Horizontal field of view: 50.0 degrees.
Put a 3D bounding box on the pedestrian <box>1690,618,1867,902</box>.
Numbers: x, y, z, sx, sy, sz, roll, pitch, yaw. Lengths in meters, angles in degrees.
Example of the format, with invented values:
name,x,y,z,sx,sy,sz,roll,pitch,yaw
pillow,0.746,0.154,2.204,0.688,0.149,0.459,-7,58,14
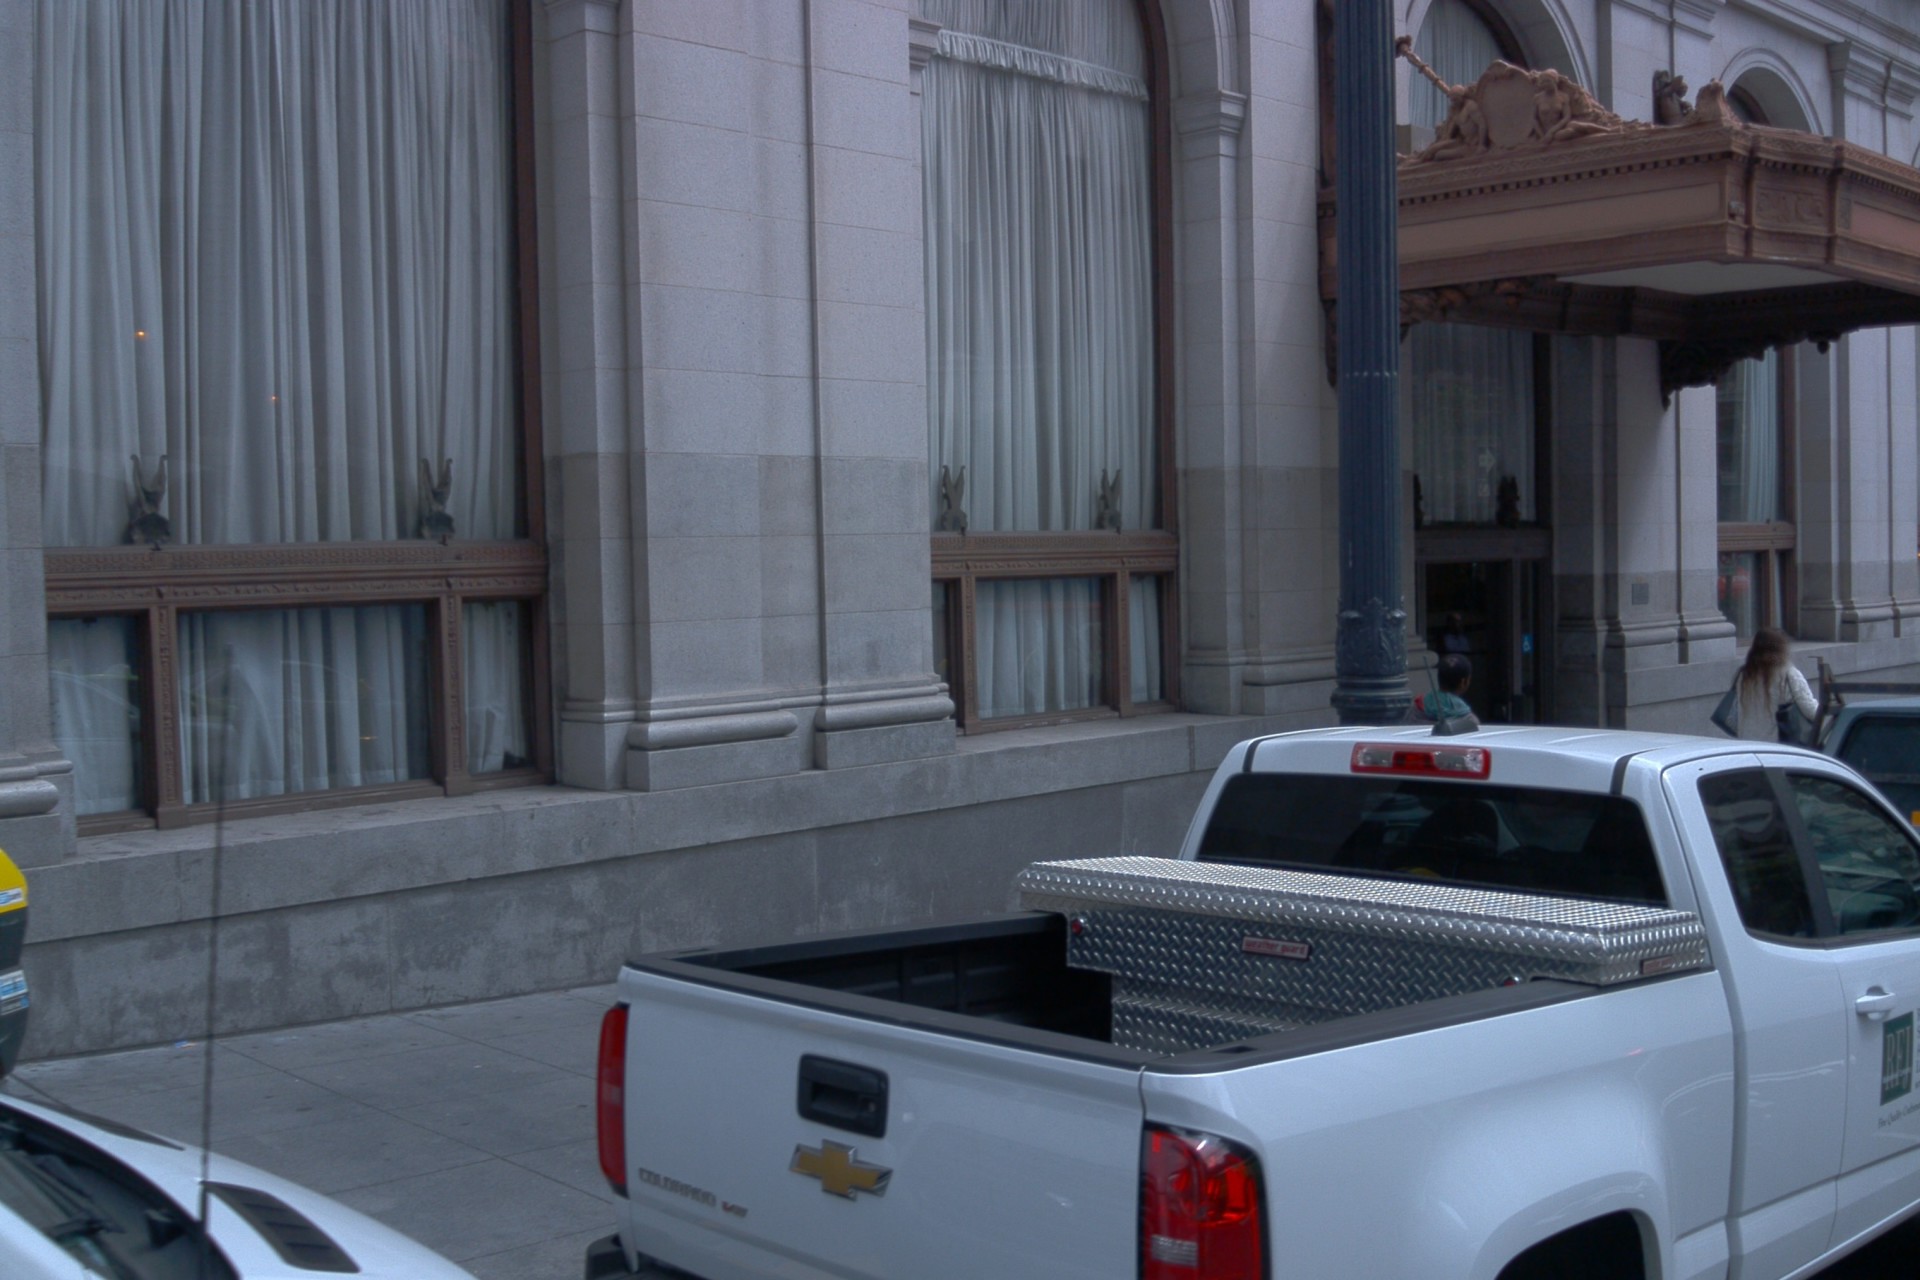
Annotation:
name,x,y,z,sx,sy,sz,roll,pitch,yaw
pedestrian,5.497,0.766,13.814,0.903,1.820,0.811,-1,1,-45

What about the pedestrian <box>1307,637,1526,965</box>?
name,x,y,z,sx,sy,sz,roll,pitch,yaw
pedestrian,2.535,0.846,11.408,0.806,1.710,0.944,1,1,44
